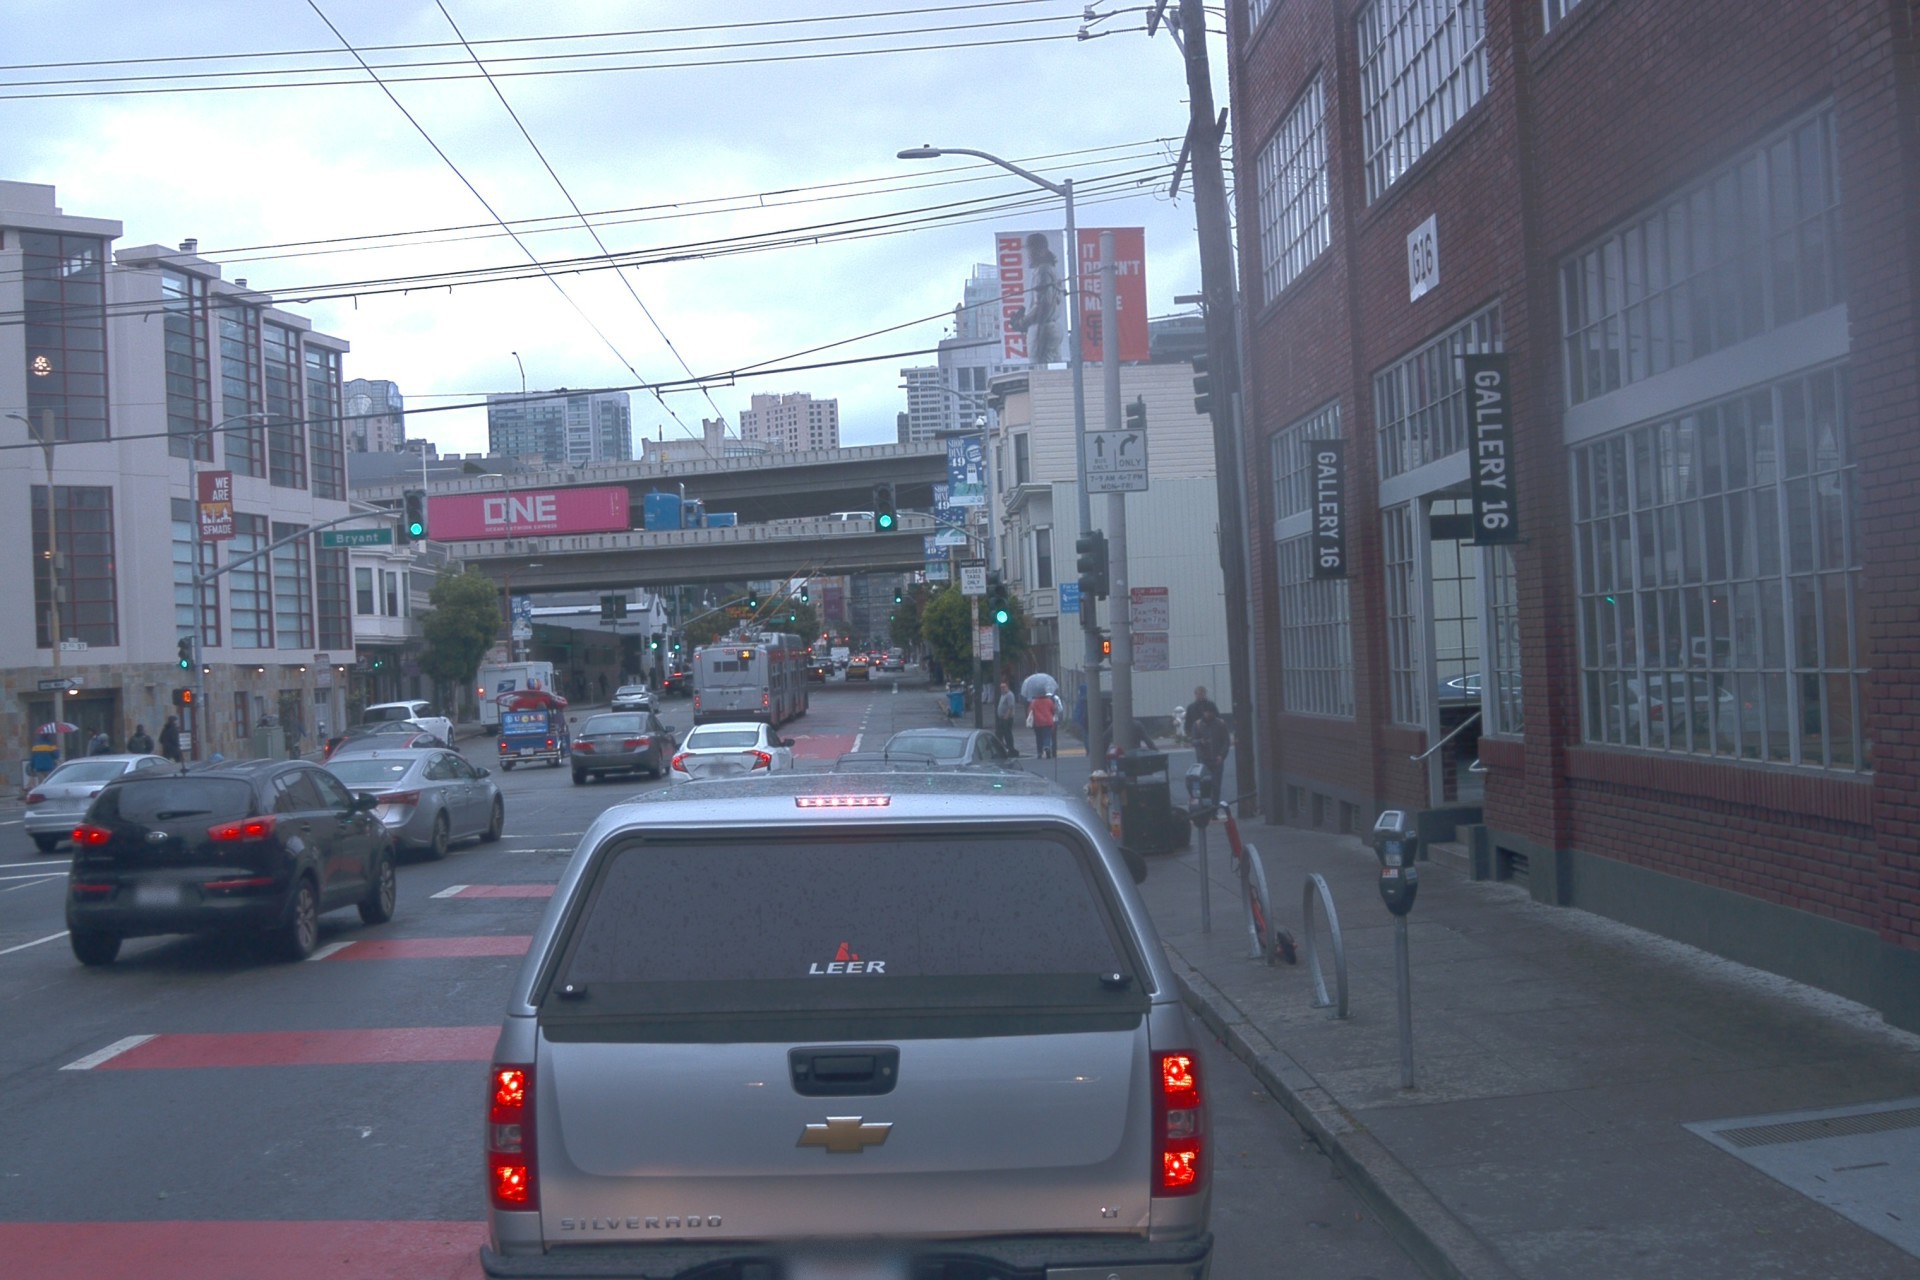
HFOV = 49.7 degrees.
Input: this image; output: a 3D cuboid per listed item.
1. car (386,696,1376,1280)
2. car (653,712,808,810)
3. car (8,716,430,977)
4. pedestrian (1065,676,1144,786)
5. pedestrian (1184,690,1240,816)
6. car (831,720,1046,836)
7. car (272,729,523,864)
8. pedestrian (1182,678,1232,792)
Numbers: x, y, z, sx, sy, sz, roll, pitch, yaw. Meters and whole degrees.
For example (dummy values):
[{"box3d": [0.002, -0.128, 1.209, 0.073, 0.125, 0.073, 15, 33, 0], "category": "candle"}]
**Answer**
[{"box3d": [-0.311, 1.285, 7.838, 2.411, 2.070, 5.546, 0, -1, -3], "category": "car"}, {"box3d": [-3.828, 2.010, 35.390, 2.181, 1.450, 4.691, 0, -1, -1], "category": "car"}, {"box3d": [-6.268, 1.670, 18.179, 2.197, 1.900, 4.423, 0, -1, -1], "category": "car"}, {"box3d": [2.518, 1.564, 36.133, 1.017, 1.870, 1.038, 0, -1, -21], "category": "pedestrian"}, {"box3d": [3.719, 1.649, 30.510, 0.763, 1.820, 0.915, 0, -1, 10], "category": "pedestrian"}, {"box3d": [-0.226, 2.003, 31.123, 2.071, 1.500, 4.412, 0, -1, 16], "category": "car"}, {"box3d": [-7.448, 2.033, 27.986, 1.982, 1.520, 4.870, 0, -1, 1], "category": "car"}, {"box3d": [4.116, 1.579, 34.625, 0.749, 1.870, 0.954, 0, -1, 3], "category": "pedestrian"}]
